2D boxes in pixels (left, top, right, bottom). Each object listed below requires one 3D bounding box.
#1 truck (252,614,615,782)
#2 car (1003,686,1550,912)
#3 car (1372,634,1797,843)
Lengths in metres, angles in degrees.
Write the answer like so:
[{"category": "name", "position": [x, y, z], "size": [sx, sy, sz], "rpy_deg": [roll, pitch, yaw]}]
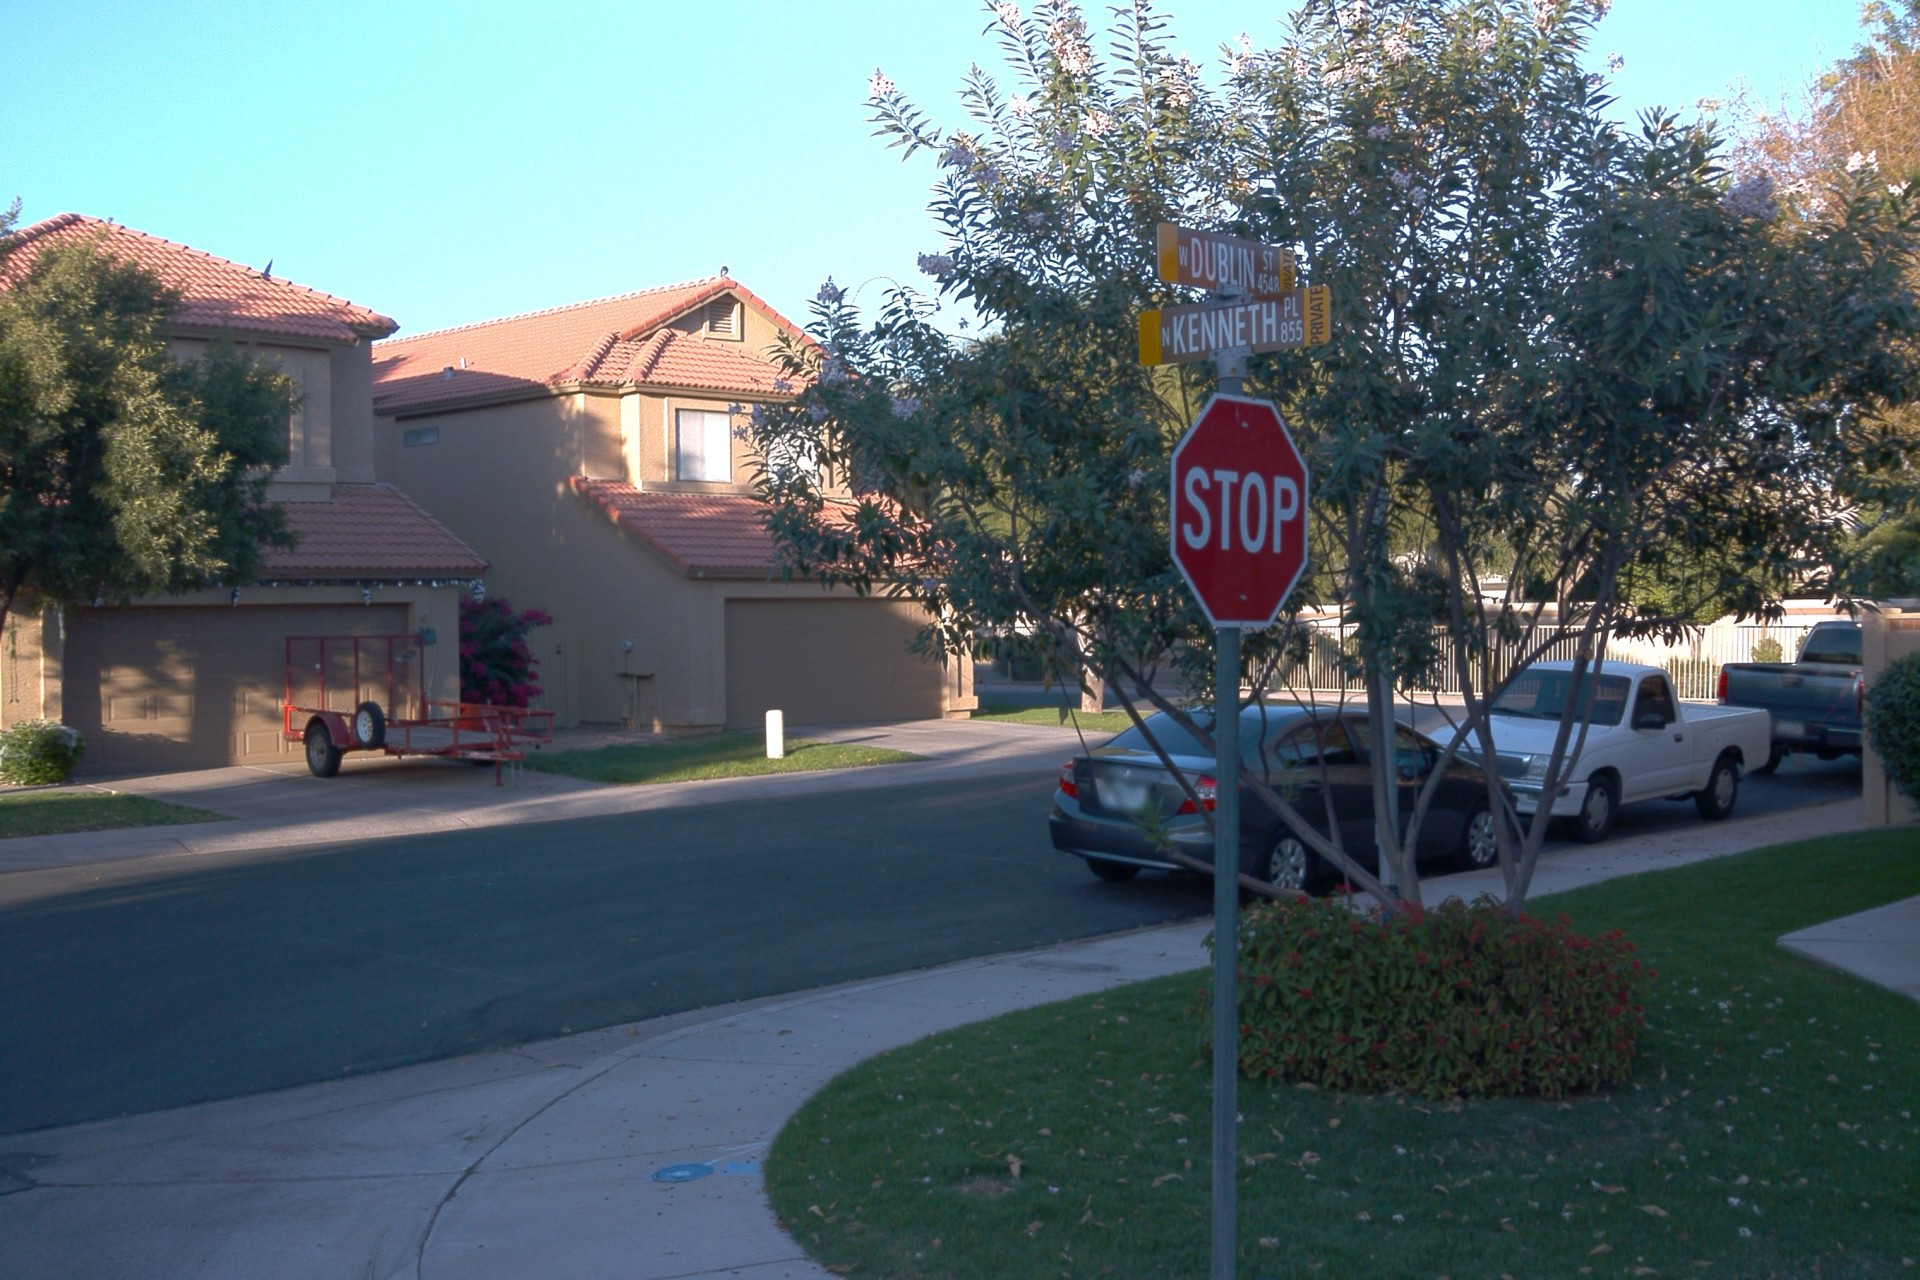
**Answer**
[{"category": "truck", "position": [-6.650, 0.678, 26.005], "size": [2.622, 1.900, 4.348], "rpy_deg": [1, -1, -43]}, {"category": "car", "position": [2.612, 1.127, 16.369], "size": [2.054, 1.470, 4.462], "rpy_deg": [0, -1, 44]}, {"category": "car", "position": [6.196, 0.868, 20.279], "size": [2.021, 1.800, 4.702], "rpy_deg": [0, -1, 44]}]
